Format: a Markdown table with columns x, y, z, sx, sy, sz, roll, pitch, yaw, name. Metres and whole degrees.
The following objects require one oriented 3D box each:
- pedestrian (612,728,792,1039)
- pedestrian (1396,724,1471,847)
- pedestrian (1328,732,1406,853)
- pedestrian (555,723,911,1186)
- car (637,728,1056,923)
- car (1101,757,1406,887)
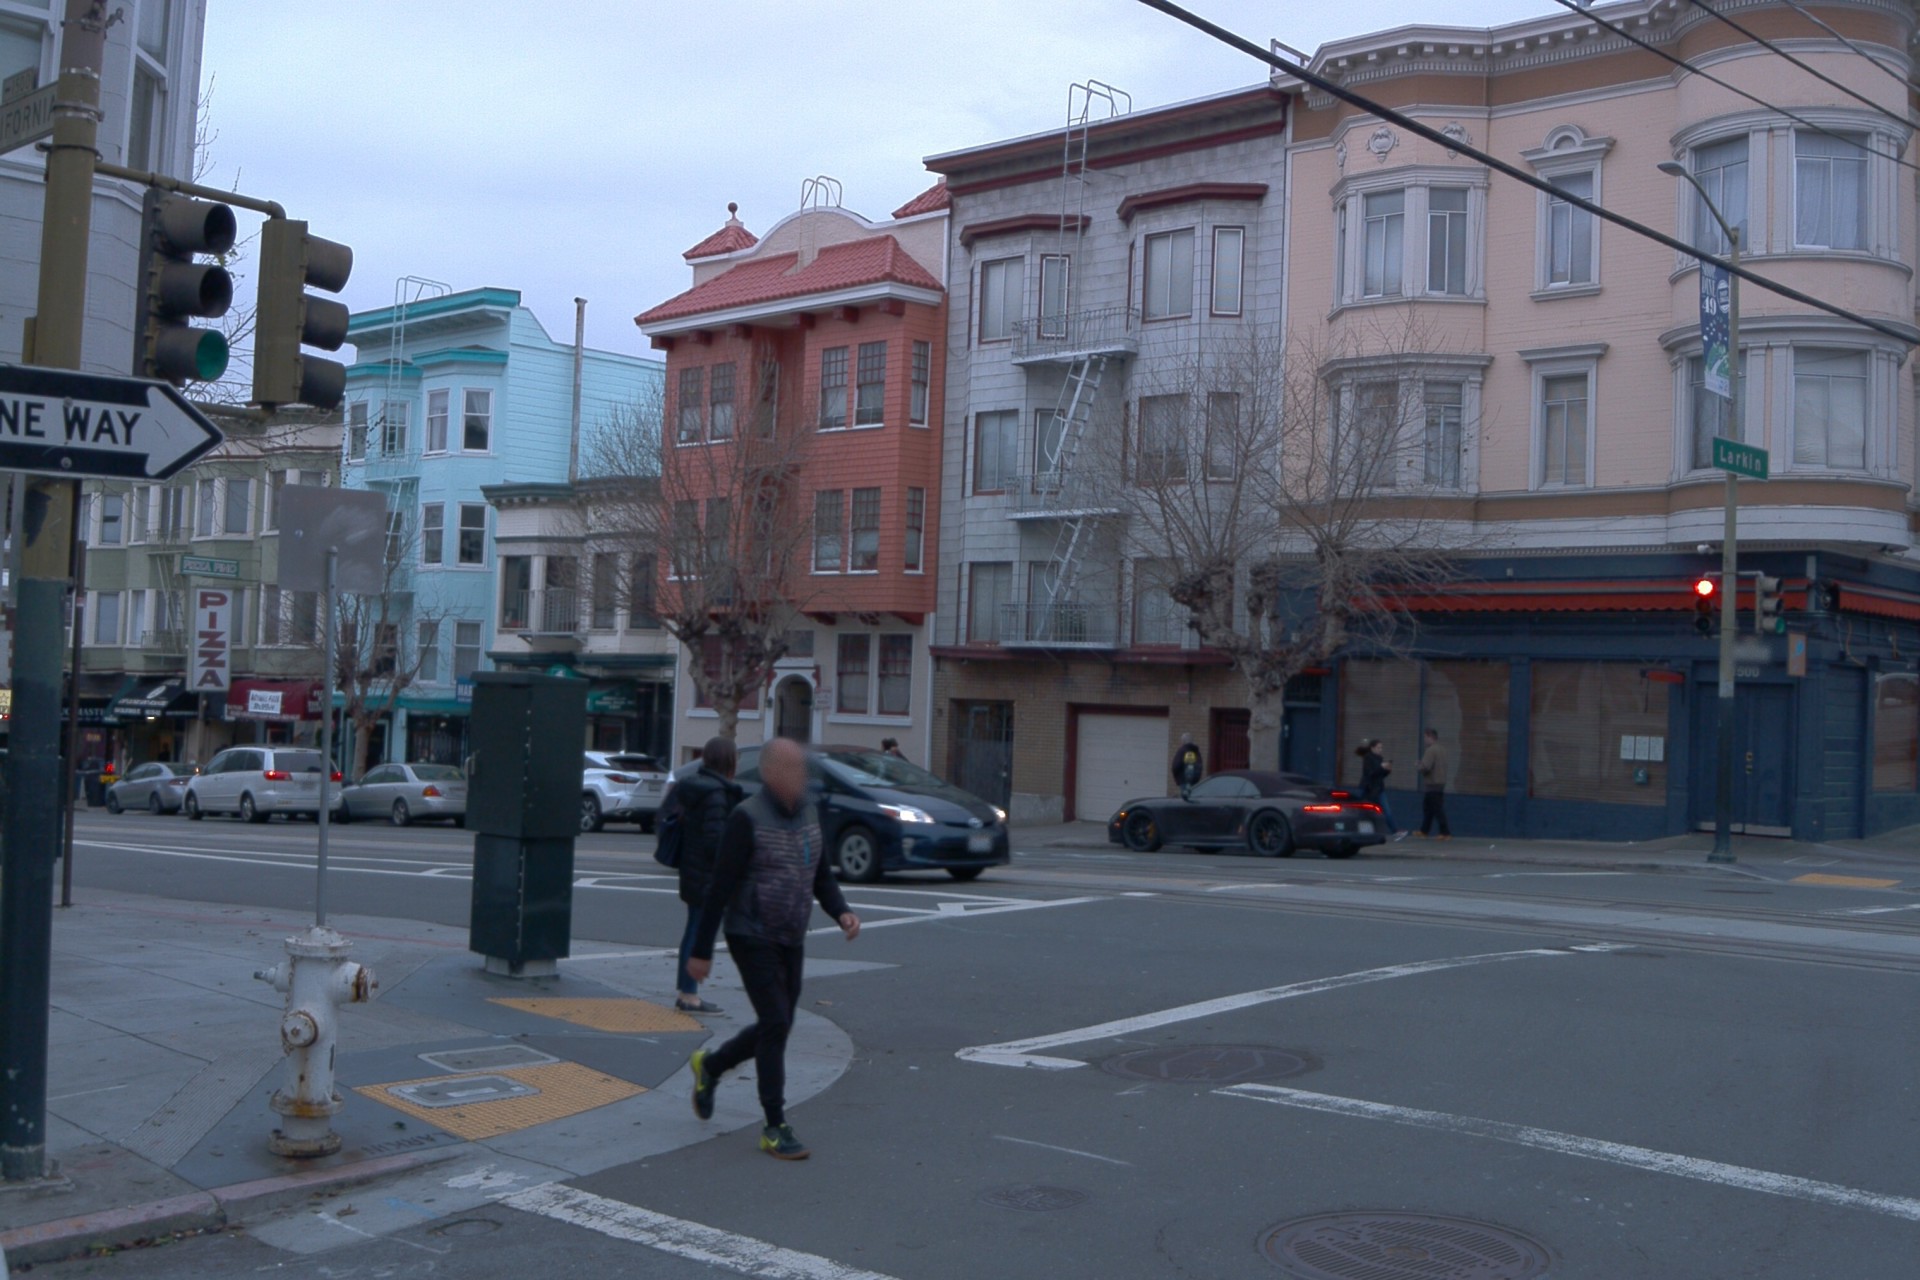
| x | y | z | sx | sy | sz | roll | pitch | yaw | name |
| --- | --- | --- | --- | --- | --- | --- | --- | --- | --- |
| -1.521 | 1.393 | 12.133 | 0.846 | 1.692 | 0.707 | -1 | 1 | -29 | pedestrian |
| 7.666 | 2.338 | 33.394 | 0.946 | 1.900 | 0.789 | 1 | 1 | 36 | pedestrian |
| 6.446 | 2.397 | 32.664 | 0.938 | 1.800 | 0.779 | 1 | 1 | 43 | pedestrian |
| -0.966 | 1.251 | 8.751 | 1.244 | 1.716 | 0.882 | 1 | 1 | 40 | pedestrian |
| -1.338 | 1.942 | 22.849 | 4.528 | 1.660 | 2.074 | 1 | 1 | 43 | car |
| 4.281 | 2.627 | 30.588 | 1.947 | 1.460 | 4.186 | -1 | 1 | -43 | car |
